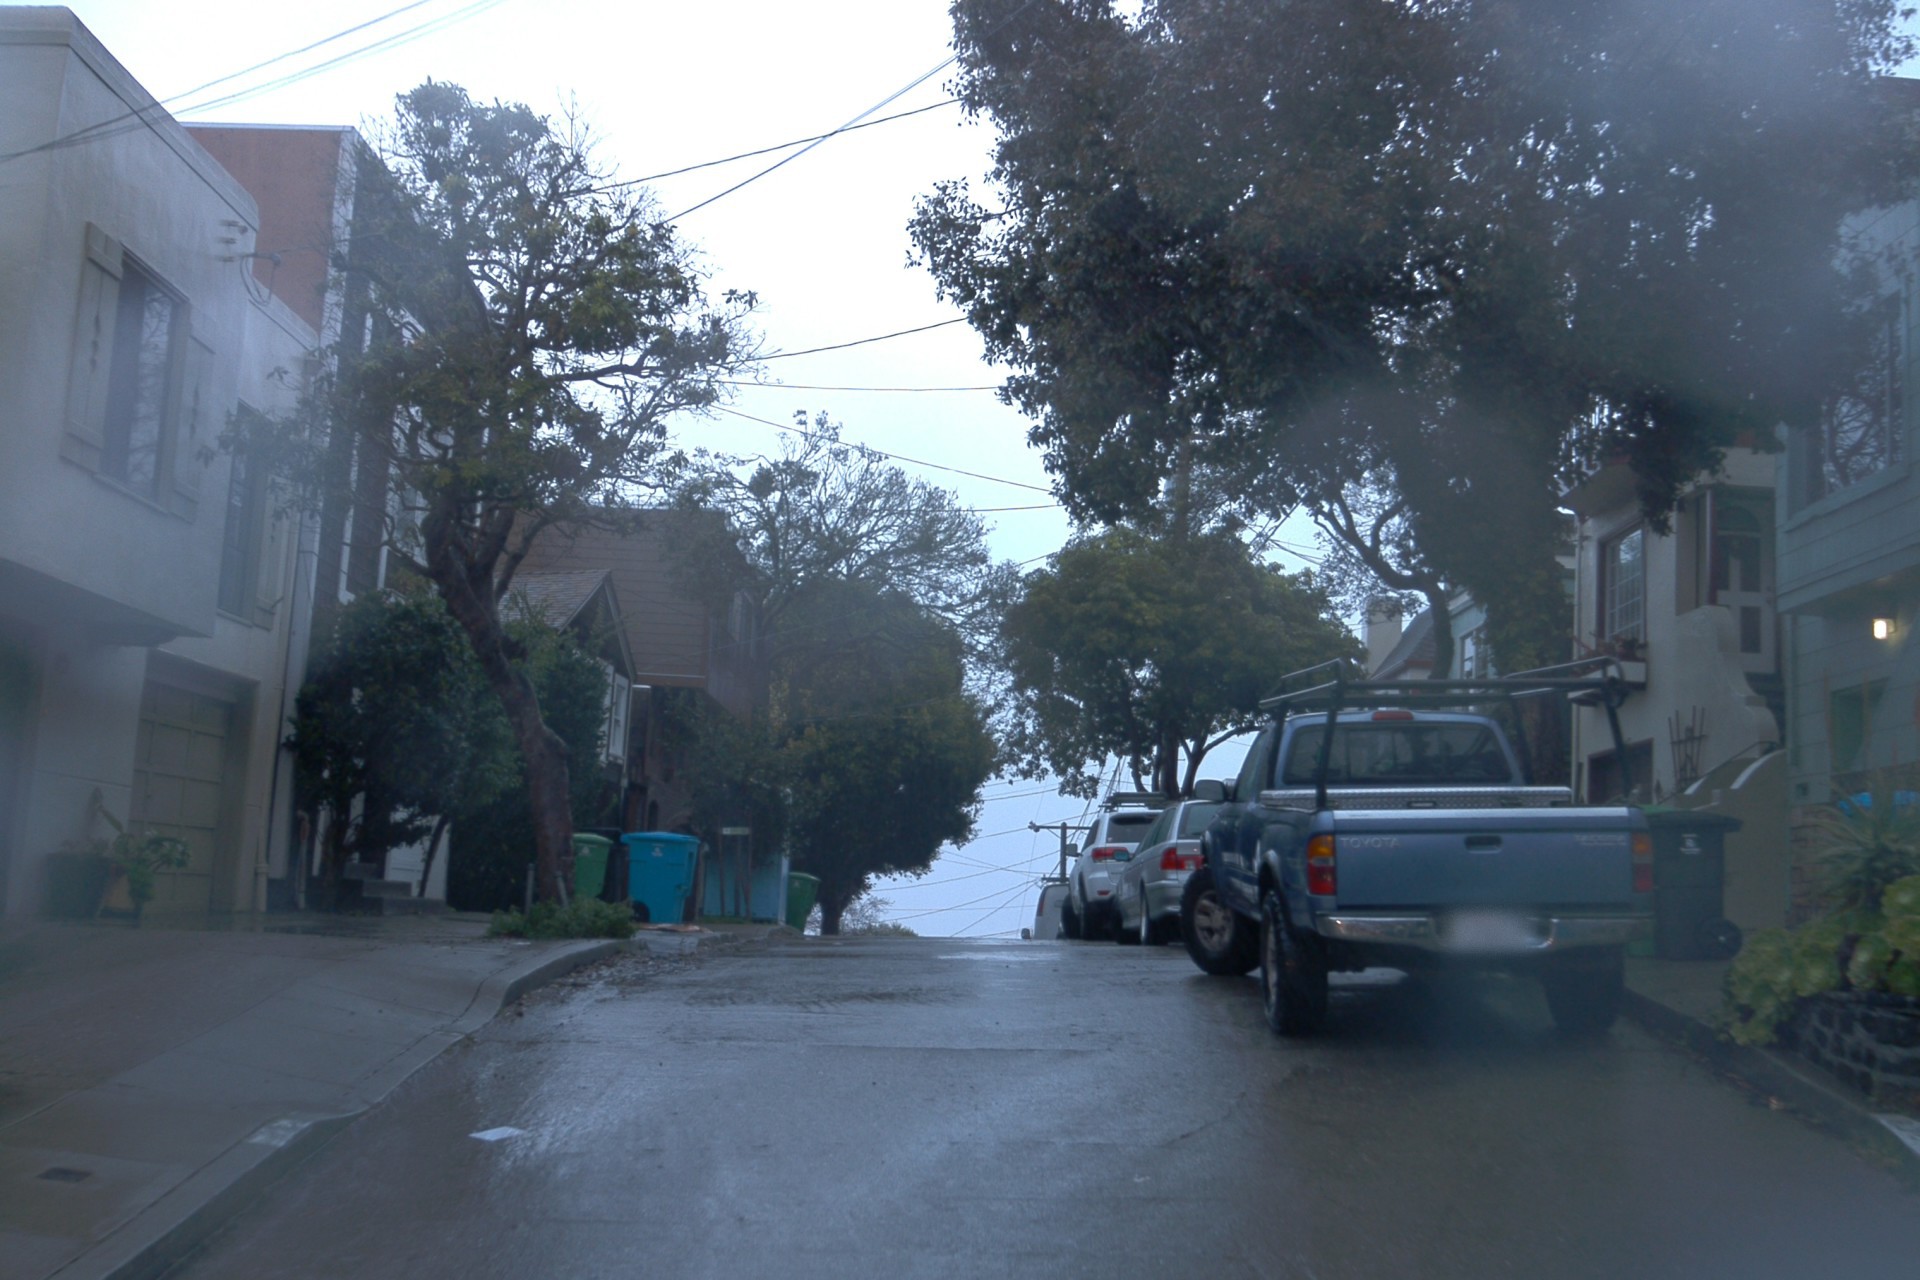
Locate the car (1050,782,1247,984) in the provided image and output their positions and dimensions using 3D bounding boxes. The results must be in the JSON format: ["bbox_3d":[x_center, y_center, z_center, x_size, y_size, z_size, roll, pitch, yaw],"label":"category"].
[{"bbox_3d":[2.509,3.261,28.641,2.211,2.140,4.911,1,0,0],"label":"car"}]

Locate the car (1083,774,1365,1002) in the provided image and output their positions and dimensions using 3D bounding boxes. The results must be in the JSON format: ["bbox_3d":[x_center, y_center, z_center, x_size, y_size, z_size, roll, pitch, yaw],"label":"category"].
[{"bbox_3d":[2.549,2.421,21.252,2.133,1.660,5.056,1,0,-1],"label":"car"}]

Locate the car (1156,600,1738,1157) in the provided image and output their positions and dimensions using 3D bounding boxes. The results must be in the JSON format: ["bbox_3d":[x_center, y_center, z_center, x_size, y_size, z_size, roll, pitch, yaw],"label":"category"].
[{"bbox_3d":[2.484,1.070,12.145,2.116,2.510,5.436,1,0,0],"label":"car"}]
